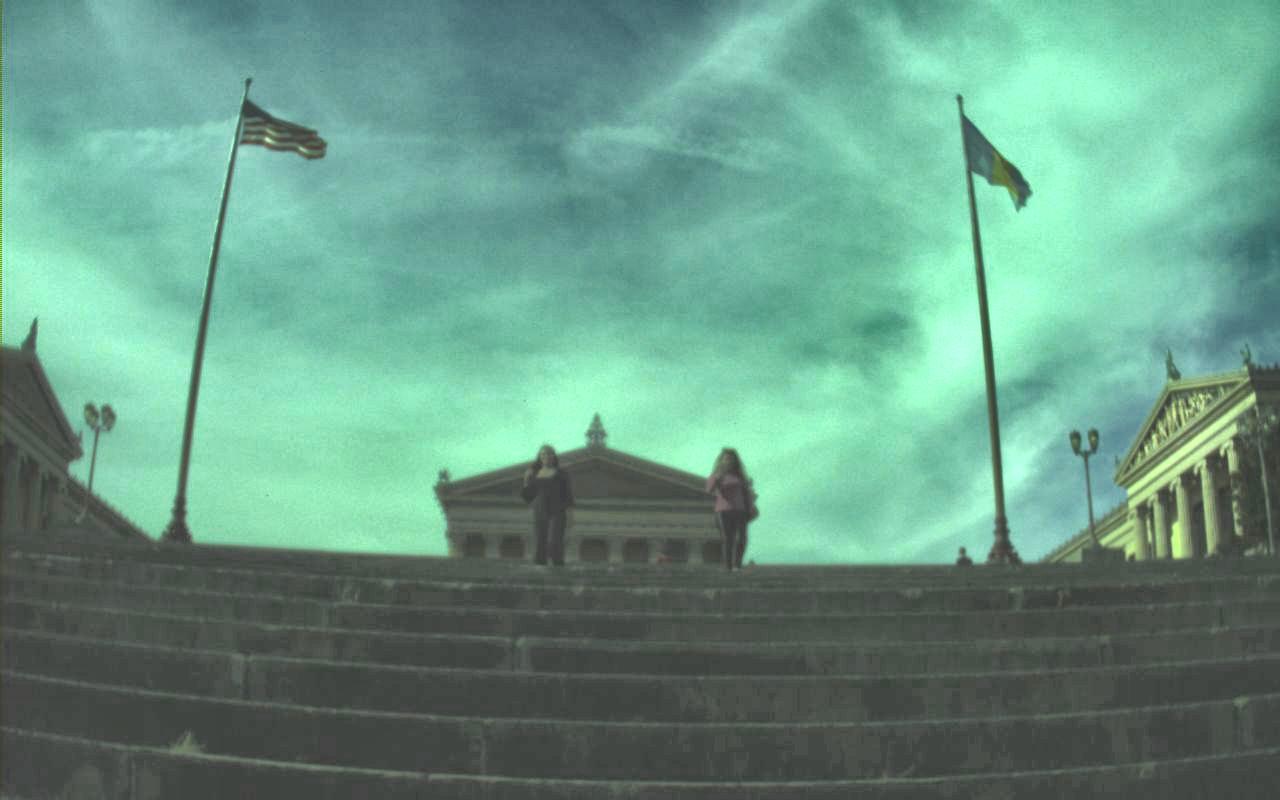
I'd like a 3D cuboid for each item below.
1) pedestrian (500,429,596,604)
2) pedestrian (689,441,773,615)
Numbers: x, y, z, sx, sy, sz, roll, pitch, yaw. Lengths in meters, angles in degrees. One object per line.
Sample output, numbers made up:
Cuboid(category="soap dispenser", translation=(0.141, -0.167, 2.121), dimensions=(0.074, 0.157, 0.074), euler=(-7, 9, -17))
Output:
Cuboid(category="pedestrian", translation=(-1.033, 1.281, 14.082), dimensions=(0.816, 1.860, 0.820), euler=(1, 0, 19))
Cuboid(category="pedestrian", translation=(0.965, 1.365, 13.527), dimensions=(0.820, 1.797, 0.836), euler=(0, 0, -1))
